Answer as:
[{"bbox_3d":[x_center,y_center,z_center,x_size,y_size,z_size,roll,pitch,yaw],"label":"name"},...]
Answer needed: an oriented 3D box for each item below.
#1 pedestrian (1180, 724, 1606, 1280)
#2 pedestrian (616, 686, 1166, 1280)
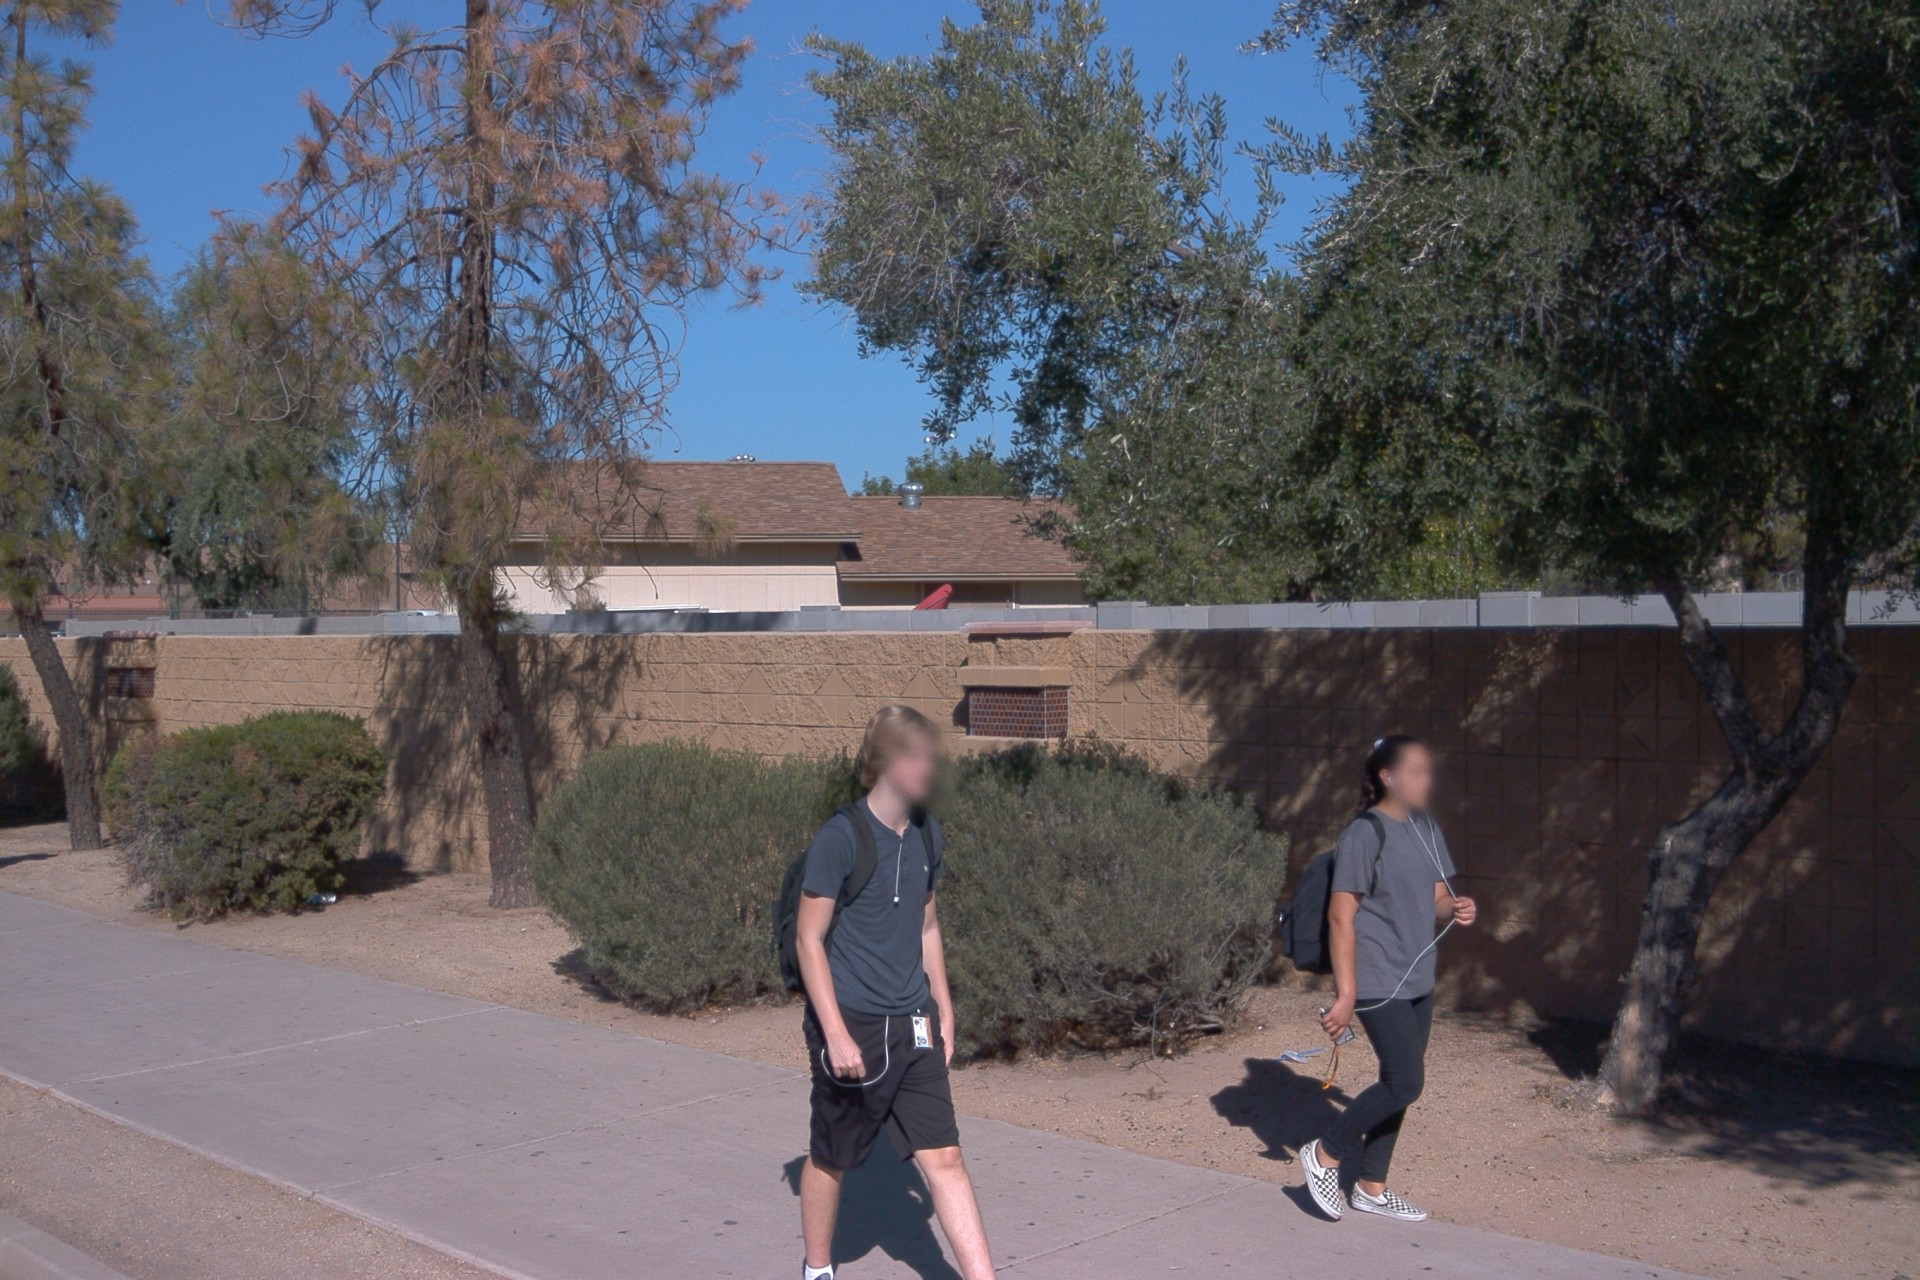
[{"bbox_3d":[1.435,1.135,6.876,1.005,1.680,0.996,0,-1,42],"label":"pedestrian"},{"bbox_3d":[-0.197,1.057,5.939,1.167,1.840,1.037,0,-1,42],"label":"pedestrian"}]
